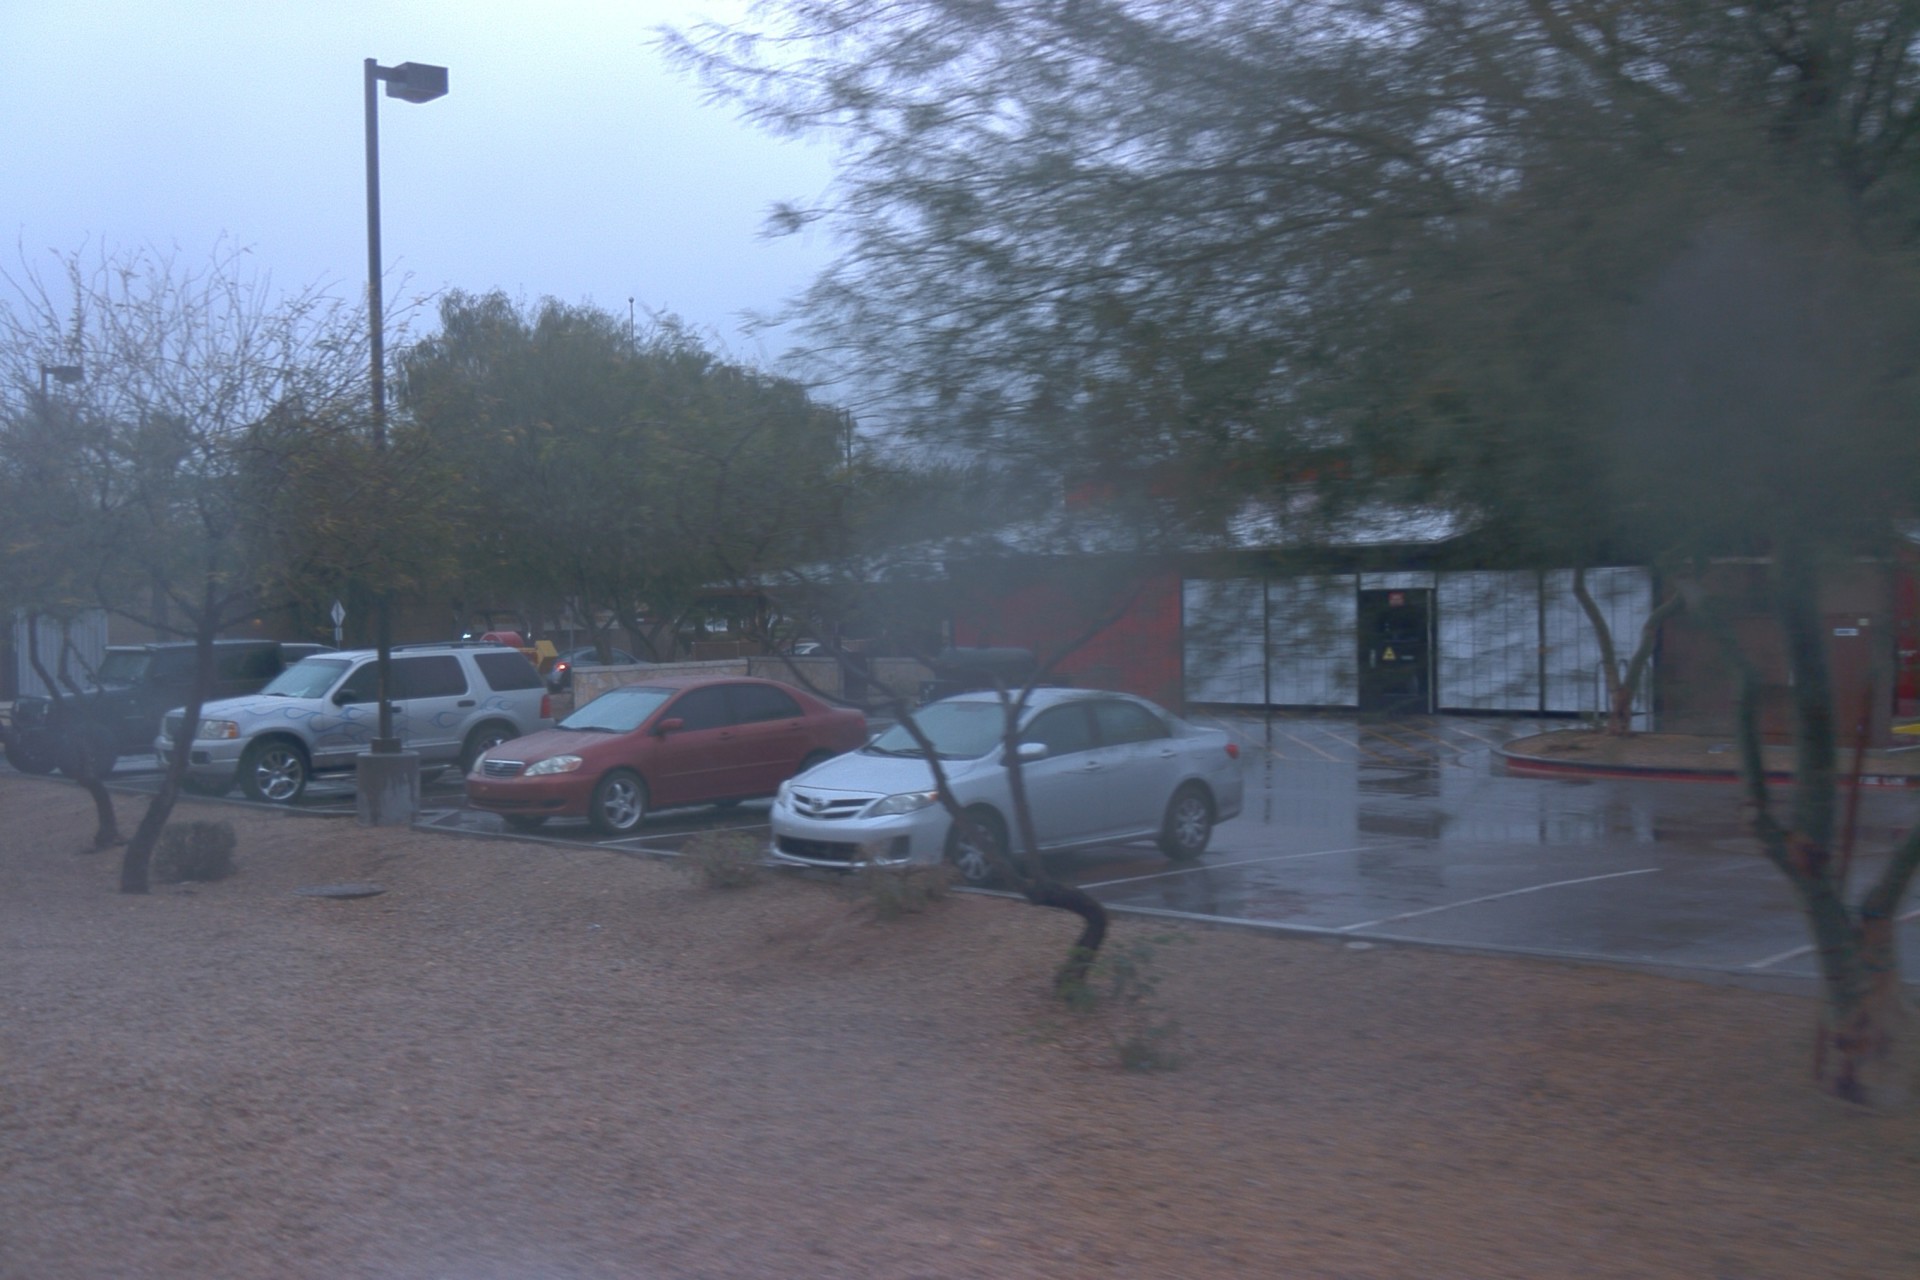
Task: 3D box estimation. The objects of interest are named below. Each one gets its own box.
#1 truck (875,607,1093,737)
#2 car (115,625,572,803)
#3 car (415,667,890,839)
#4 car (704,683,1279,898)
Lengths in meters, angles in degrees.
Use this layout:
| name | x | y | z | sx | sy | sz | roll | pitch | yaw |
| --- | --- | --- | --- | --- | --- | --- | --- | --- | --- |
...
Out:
| name | x | y | z | sx | sy | sz | roll | pitch | yaw |
| --- | --- | --- | --- | --- | --- | --- | --- | --- | --- |
| truck | 0.470 | 0.557 | 36.697 | 1.721 | 2.160 | 3.931 | 0 | 0 | 41 |
| car | -7.408 | 0.840 | 25.372 | 2.244 | 1.950 | 4.850 | 0 | -1 | 45 |
| car | -3.061 | 1.065 | 21.408 | 2.049 | 1.560 | 4.510 | 0 | -1 | 45 |
| car | 0.383 | 1.121 | 17.216 | 4.649 | 1.490 | 2.083 | 1 | -1 | -44 |
